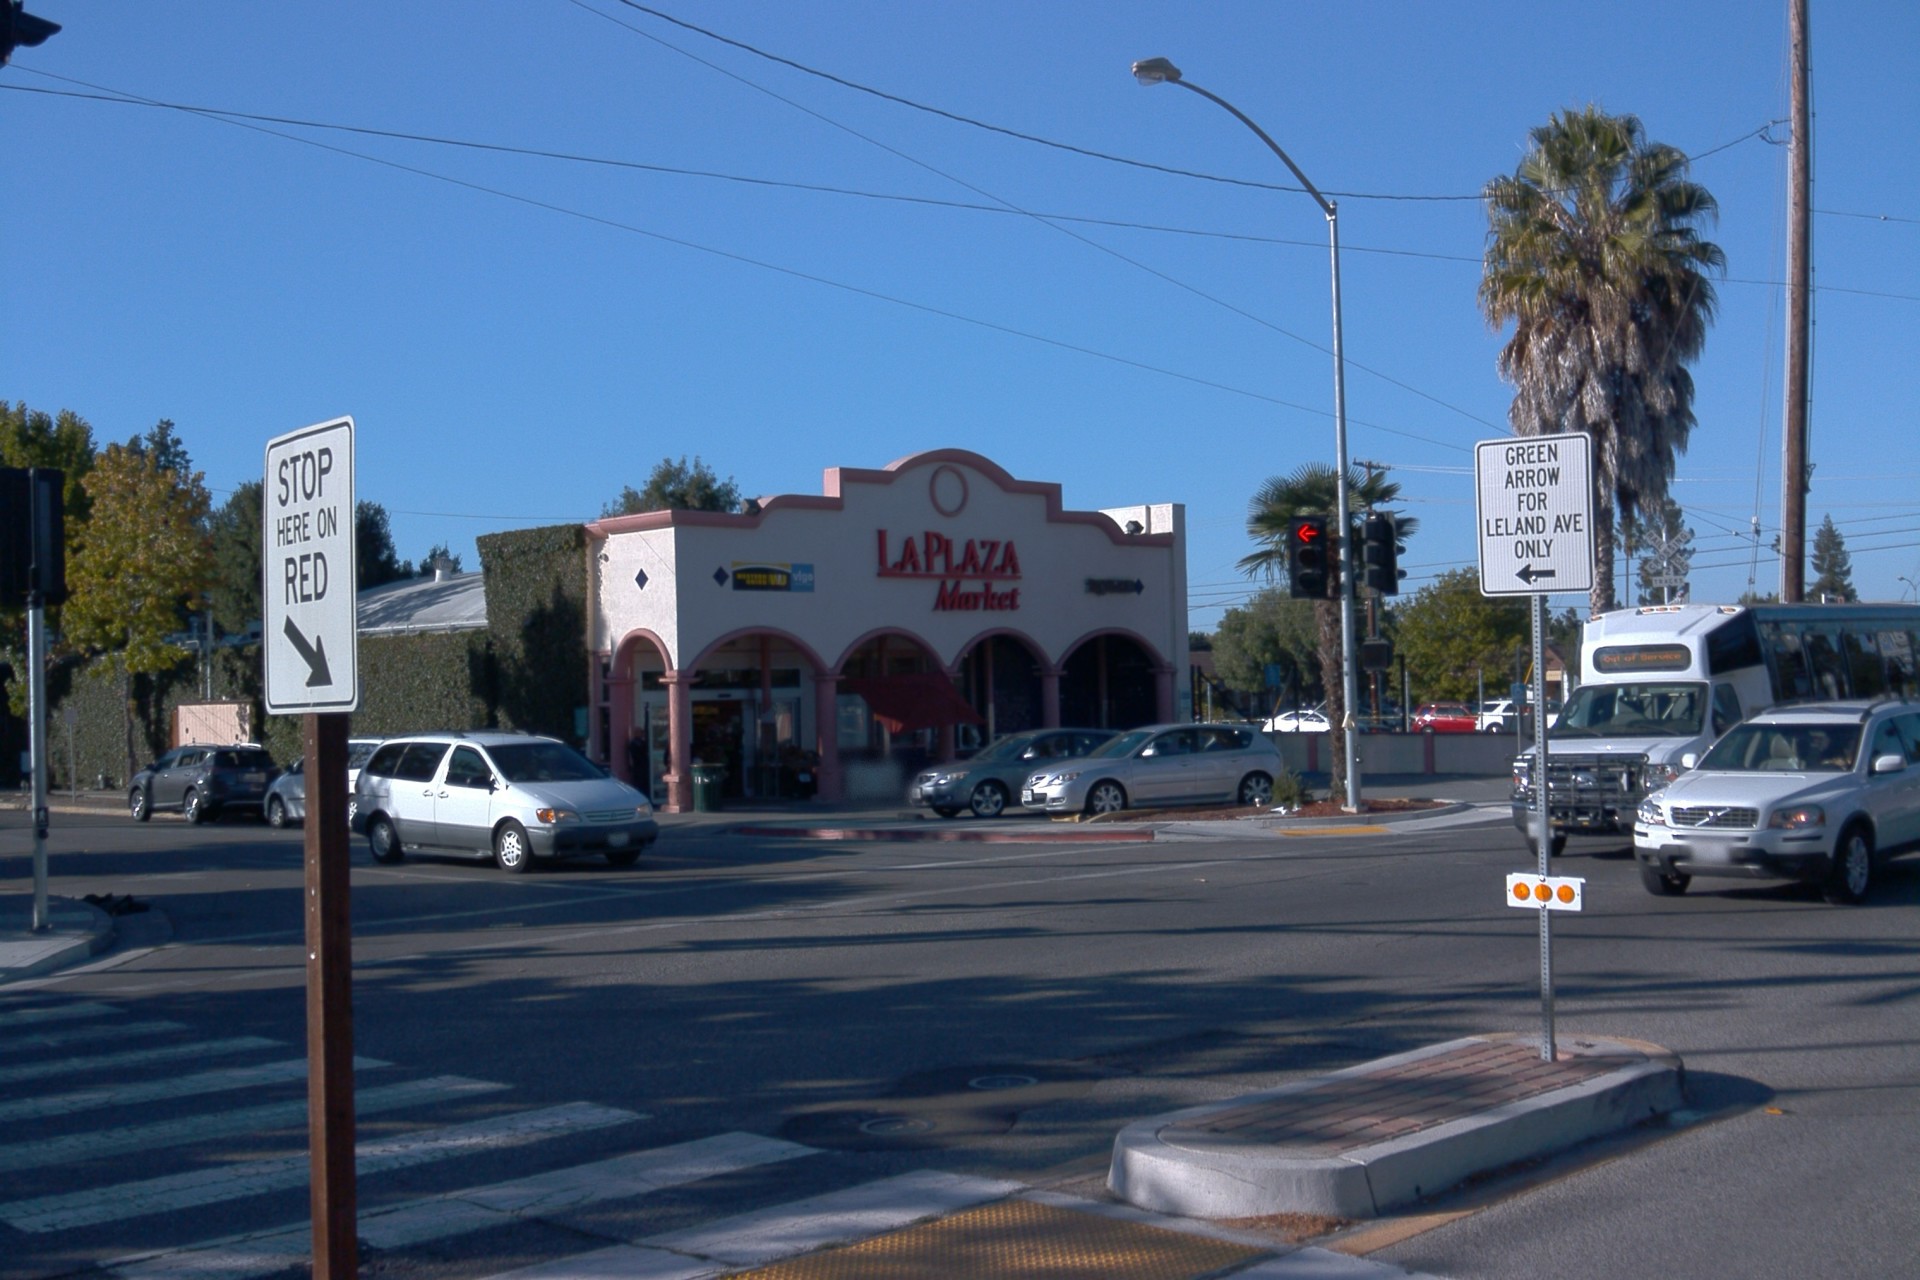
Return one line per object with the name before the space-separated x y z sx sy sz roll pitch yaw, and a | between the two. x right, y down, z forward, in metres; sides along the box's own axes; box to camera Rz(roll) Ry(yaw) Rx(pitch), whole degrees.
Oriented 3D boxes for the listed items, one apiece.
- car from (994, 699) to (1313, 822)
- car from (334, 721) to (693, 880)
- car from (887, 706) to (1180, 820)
car | 3.070 1.868 33.030 4.646 1.780 2.014 0 0 -23
car | -5.869 1.984 26.915 4.949 1.710 2.120 0 -1 44
car | 1.258 2.040 35.381 4.565 1.760 2.047 0 0 -27
